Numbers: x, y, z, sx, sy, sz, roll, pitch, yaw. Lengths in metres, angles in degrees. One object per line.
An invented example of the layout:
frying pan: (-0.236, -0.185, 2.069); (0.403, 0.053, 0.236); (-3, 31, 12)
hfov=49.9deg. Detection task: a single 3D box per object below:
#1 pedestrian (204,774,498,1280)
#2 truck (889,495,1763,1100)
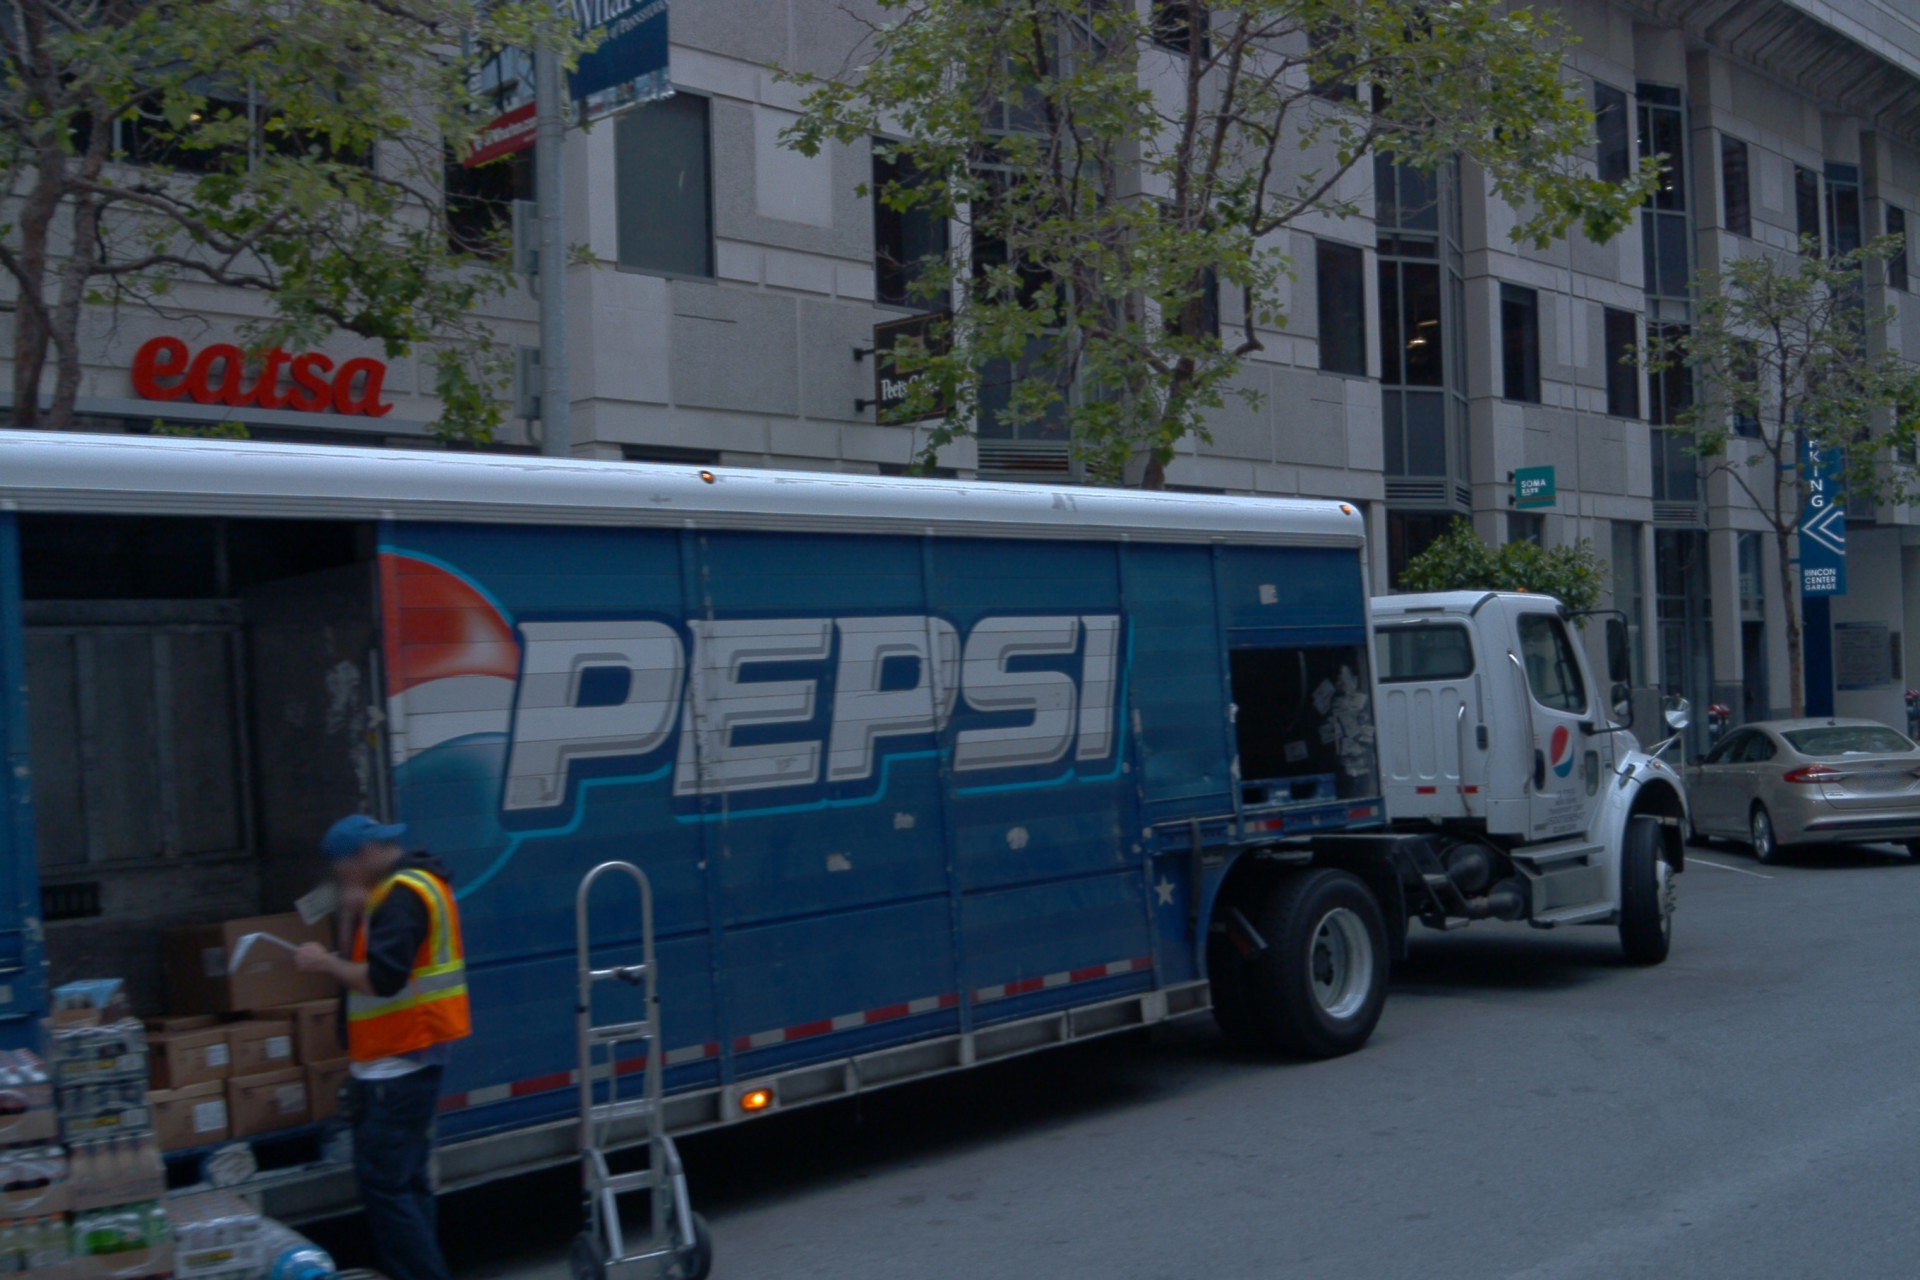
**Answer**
pedestrian: (-1.937, 1.409, 6.668); (0.834, 1.860, 0.984); (0, 1, -14)
truck: (2.627, 0.767, 13.651); (2.956, 3.110, 5.700); (1, 1, 45)
